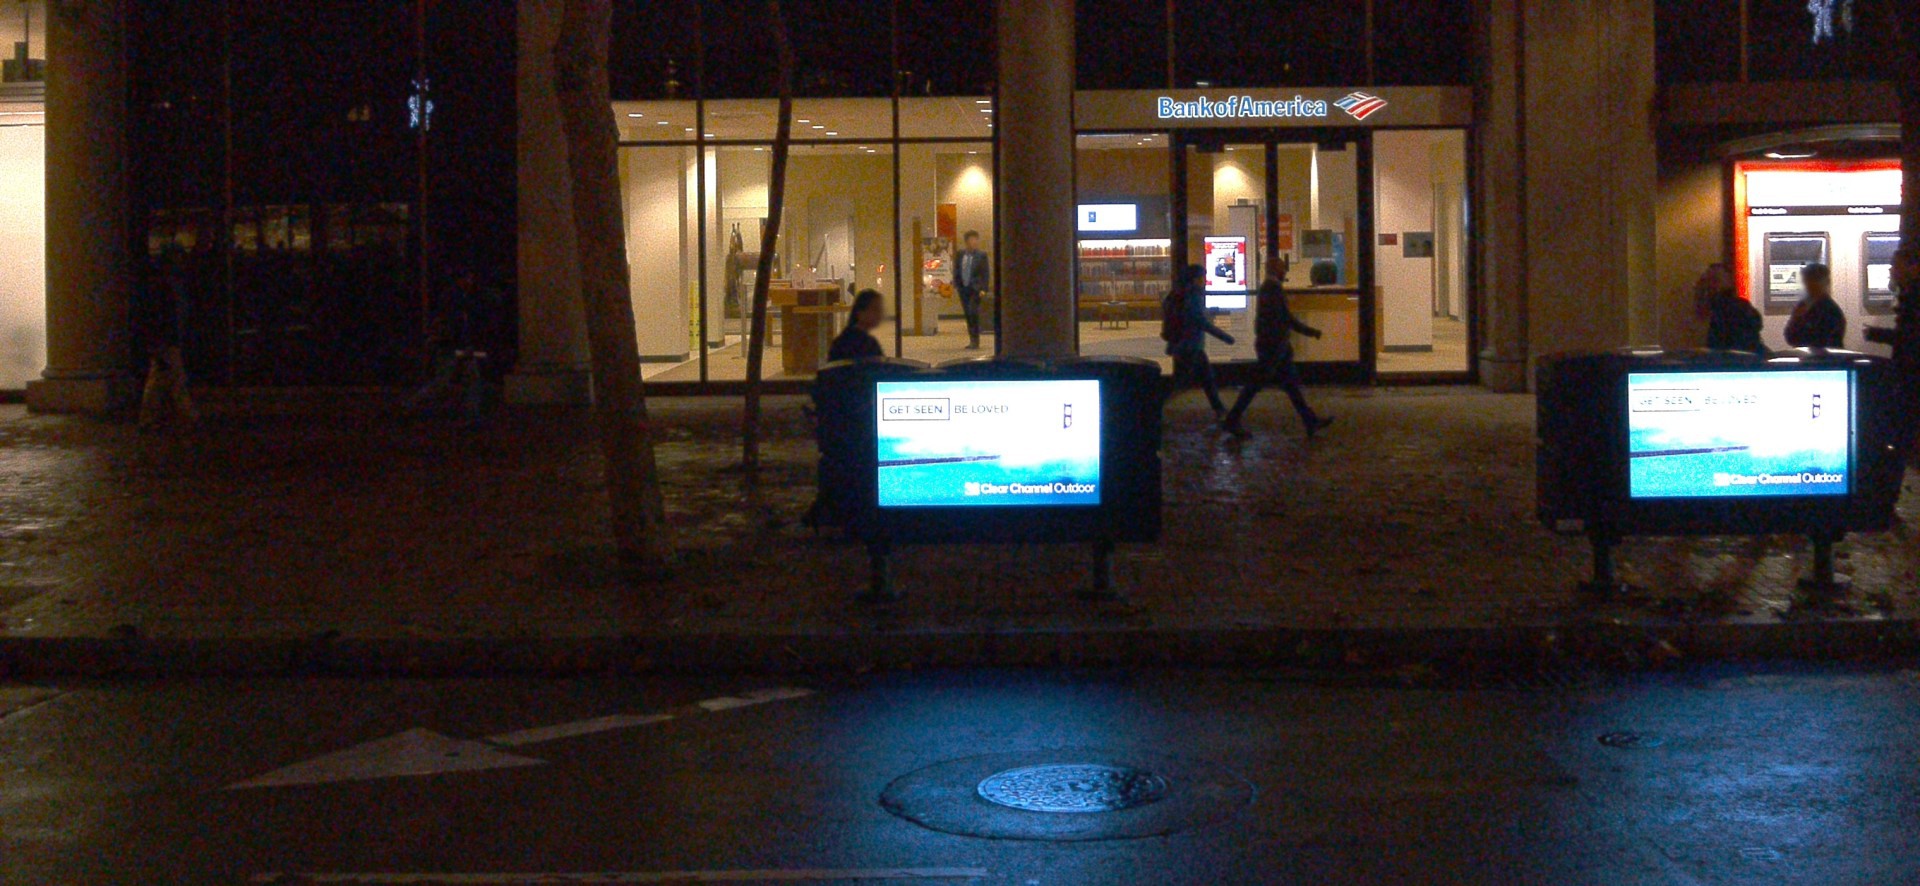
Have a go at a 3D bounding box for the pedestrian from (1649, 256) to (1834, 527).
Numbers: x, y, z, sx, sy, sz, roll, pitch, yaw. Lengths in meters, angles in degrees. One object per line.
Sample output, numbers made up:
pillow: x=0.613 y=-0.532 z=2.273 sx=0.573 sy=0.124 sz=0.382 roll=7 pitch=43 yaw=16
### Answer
pedestrian: x=5.368 y=-0.375 z=14.097 sx=1.045 sy=1.785 sz=0.698 roll=-1 pitch=2 yaw=2

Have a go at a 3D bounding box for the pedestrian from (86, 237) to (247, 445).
pedestrian: x=-7.529 y=-0.994 z=19.461 sx=1.052 sy=1.885 sz=1.023 roll=-1 pitch=3 yaw=1

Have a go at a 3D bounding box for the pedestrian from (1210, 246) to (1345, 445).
pedestrian: x=2.818 y=-0.893 z=18.266 sx=1.061 sy=1.685 sz=0.936 roll=-1 pitch=3 yaw=0

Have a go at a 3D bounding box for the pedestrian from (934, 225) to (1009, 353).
pedestrian: x=0.169 y=-2.239 z=29.581 sx=0.691 sy=1.795 sz=0.839 roll=1 pitch=3 yaw=38

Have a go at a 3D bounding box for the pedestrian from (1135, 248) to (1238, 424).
pedestrian: x=2.133 y=-1.031 z=19.356 sx=0.889 sy=1.596 sz=0.771 roll=-1 pitch=3 yaw=0

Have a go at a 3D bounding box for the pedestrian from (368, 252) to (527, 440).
pedestrian: x=-4.864 y=-0.944 z=19.467 sx=1.127 sy=1.715 sz=0.915 roll=0 pitch=3 yaw=11

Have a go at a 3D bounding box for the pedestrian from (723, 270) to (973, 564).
pedestrian: x=-0.702 y=-0.220 z=13.200 sx=1.214 sy=1.745 sz=1.155 roll=0 pitch=3 yaw=19
